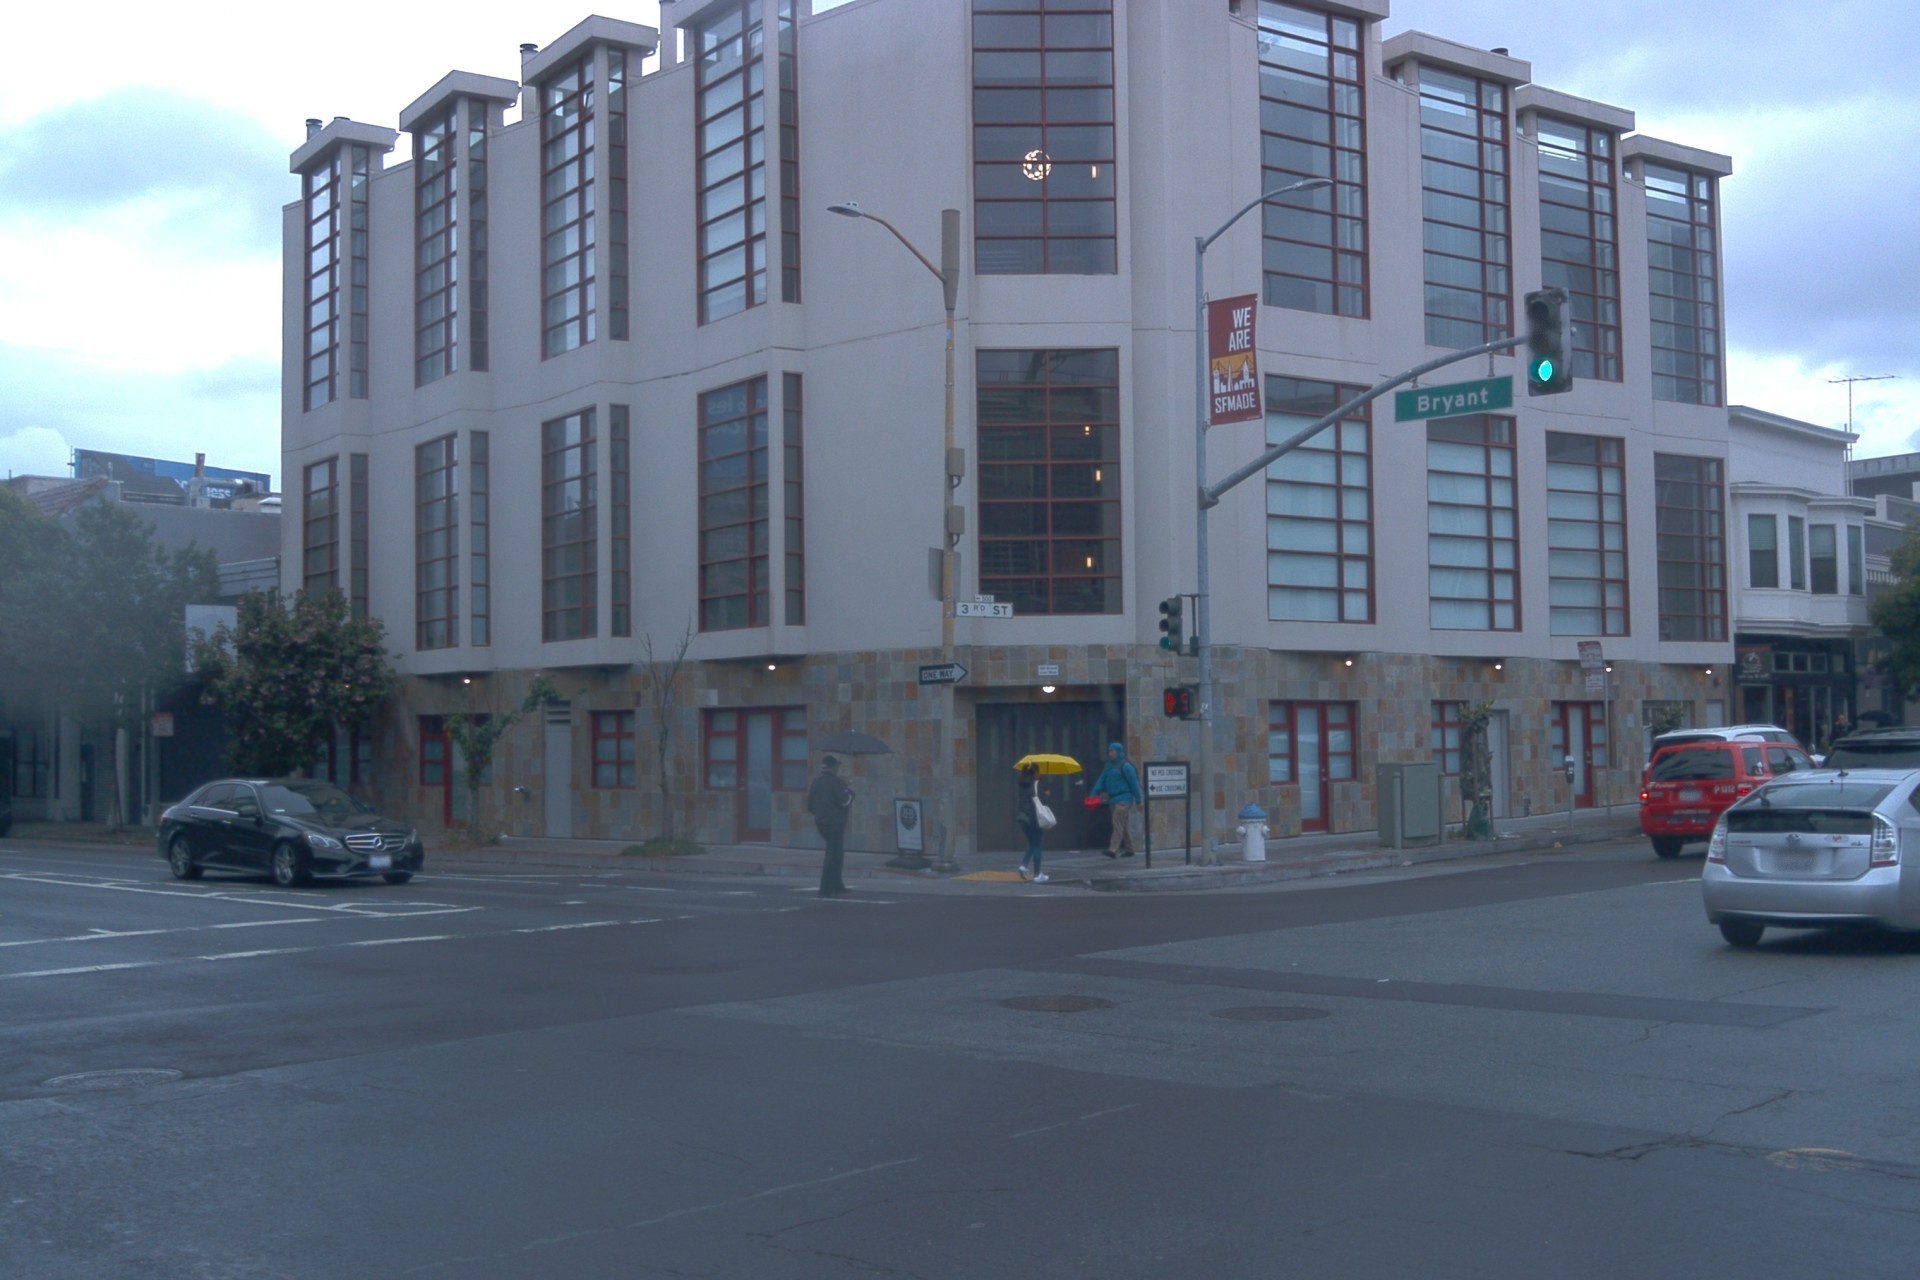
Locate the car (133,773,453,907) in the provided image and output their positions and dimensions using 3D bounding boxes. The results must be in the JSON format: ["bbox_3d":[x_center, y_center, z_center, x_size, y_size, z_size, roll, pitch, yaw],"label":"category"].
[{"bbox_3d":[-9.409,2.725,29.137,4.852,1.410,2.145,0,0,42],"label":"car"}]

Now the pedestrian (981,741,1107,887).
[{"bbox_3d":[1.154,2.354,28.485,1.137,1.860,1.361,0,0,39],"label":"pedestrian"}]

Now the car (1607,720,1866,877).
[{"bbox_3d":[11.614,2.269,30.941,2.023,1.980,4.501,0,0,43],"label":"car"}]

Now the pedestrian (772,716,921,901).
[{"bbox_3d":[-1.383,2.016,25.406,1.227,2.110,1.342,0,0,38],"label":"pedestrian"}]

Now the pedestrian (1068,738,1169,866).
[{"bbox_3d":[2.395,2.419,31.378,1.235,1.810,0.924,0,0,-43],"label":"pedestrian"}]
